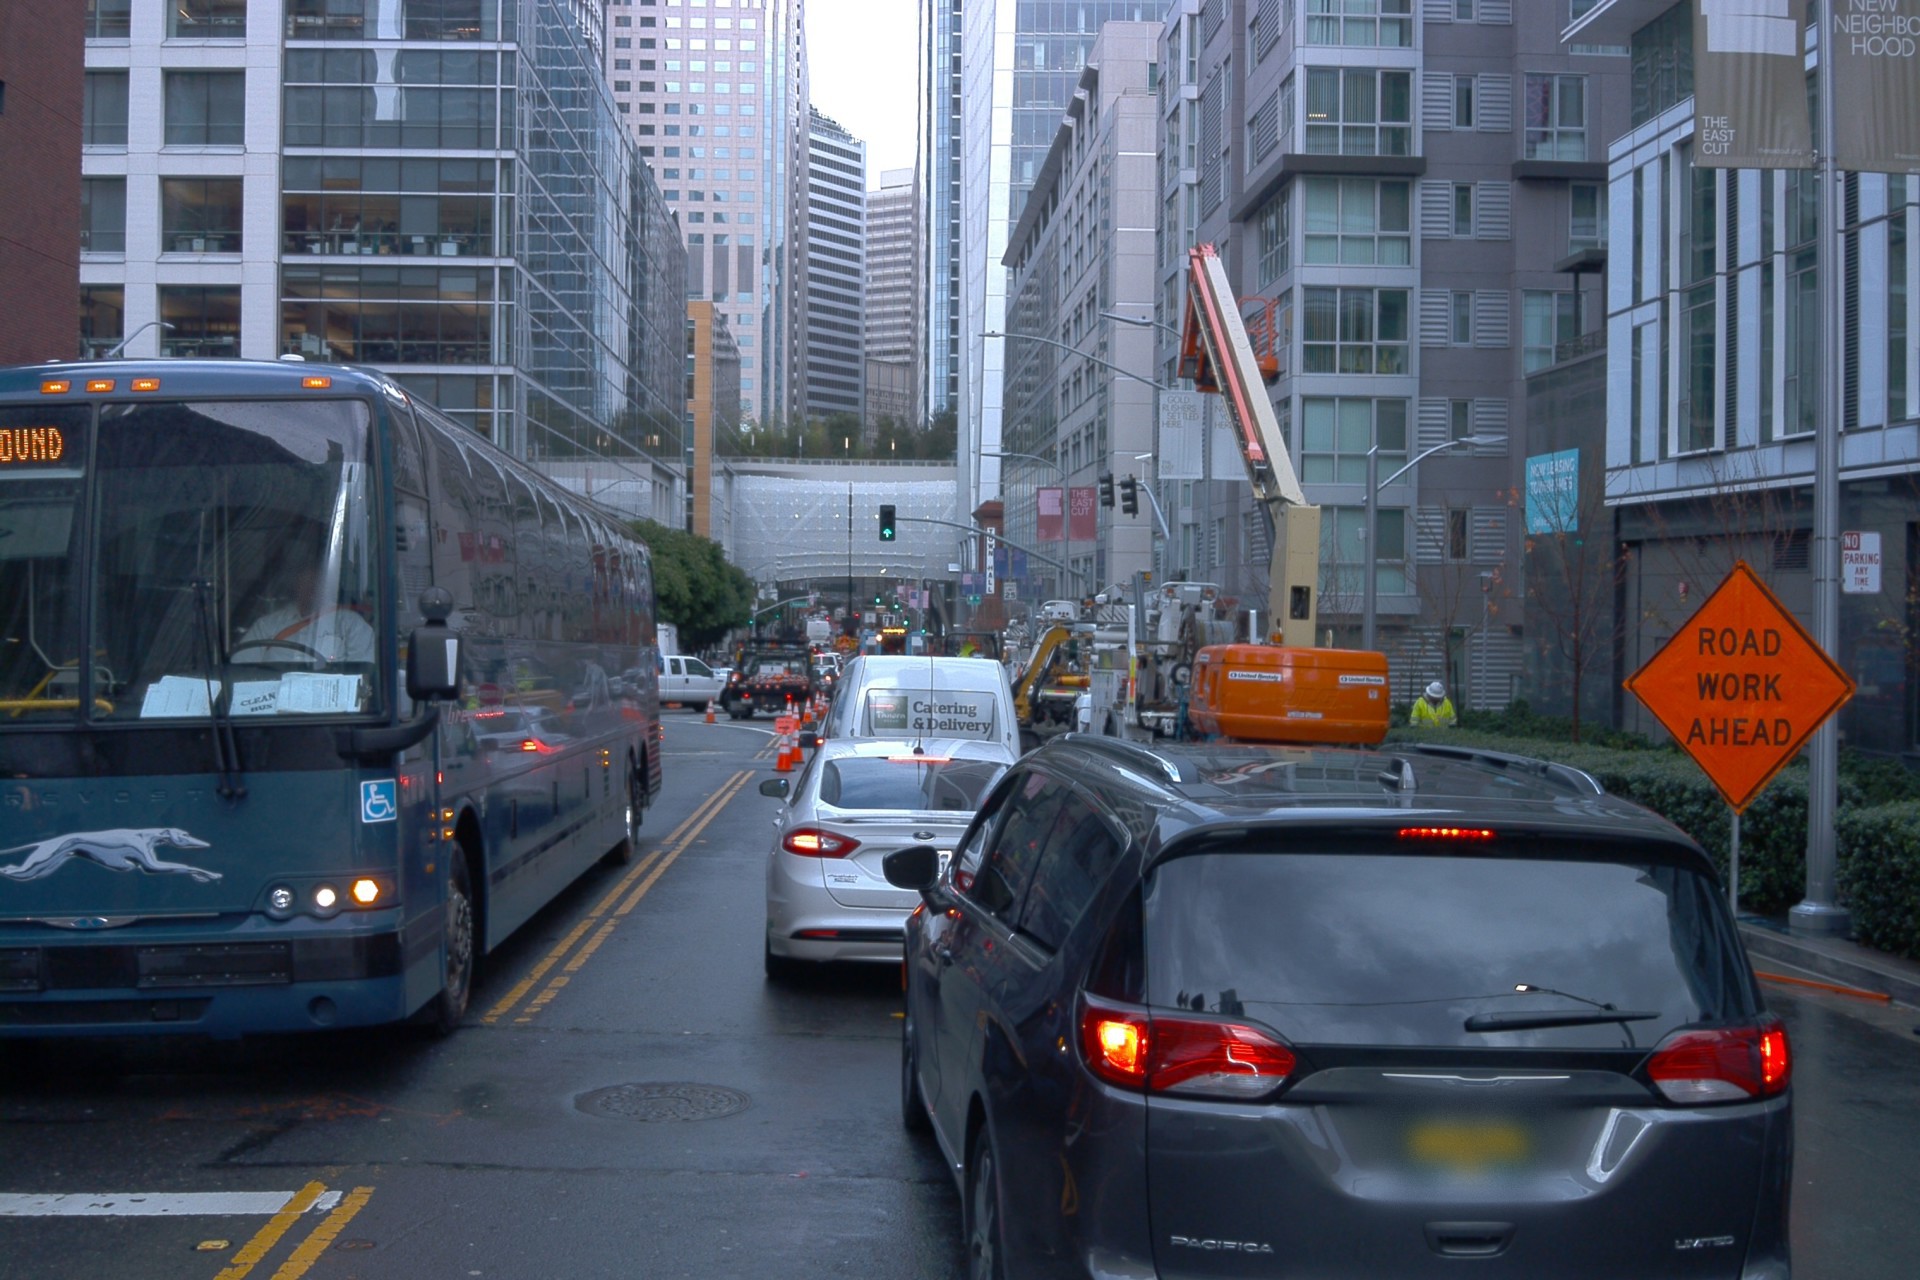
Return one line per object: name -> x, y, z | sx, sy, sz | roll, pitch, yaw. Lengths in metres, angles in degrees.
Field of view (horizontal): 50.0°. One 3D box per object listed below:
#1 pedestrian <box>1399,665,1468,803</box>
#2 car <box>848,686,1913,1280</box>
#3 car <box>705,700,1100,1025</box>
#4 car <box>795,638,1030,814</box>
pedestrian -> 6.854, 1.351, 29.860 | 0.821, 1.949, 0.618 | 1, 0, -2
car -> 0.802, 1.113, 6.811 | 2.058, 1.750, 4.787 | 1, 1, -6
car -> -0.378, 1.304, 13.826 | 2.164, 1.580, 4.901 | 1, 1, -1
car -> -0.542, 0.746, 19.508 | 1.860, 1.470, 3.431 | 1, 1, -7
